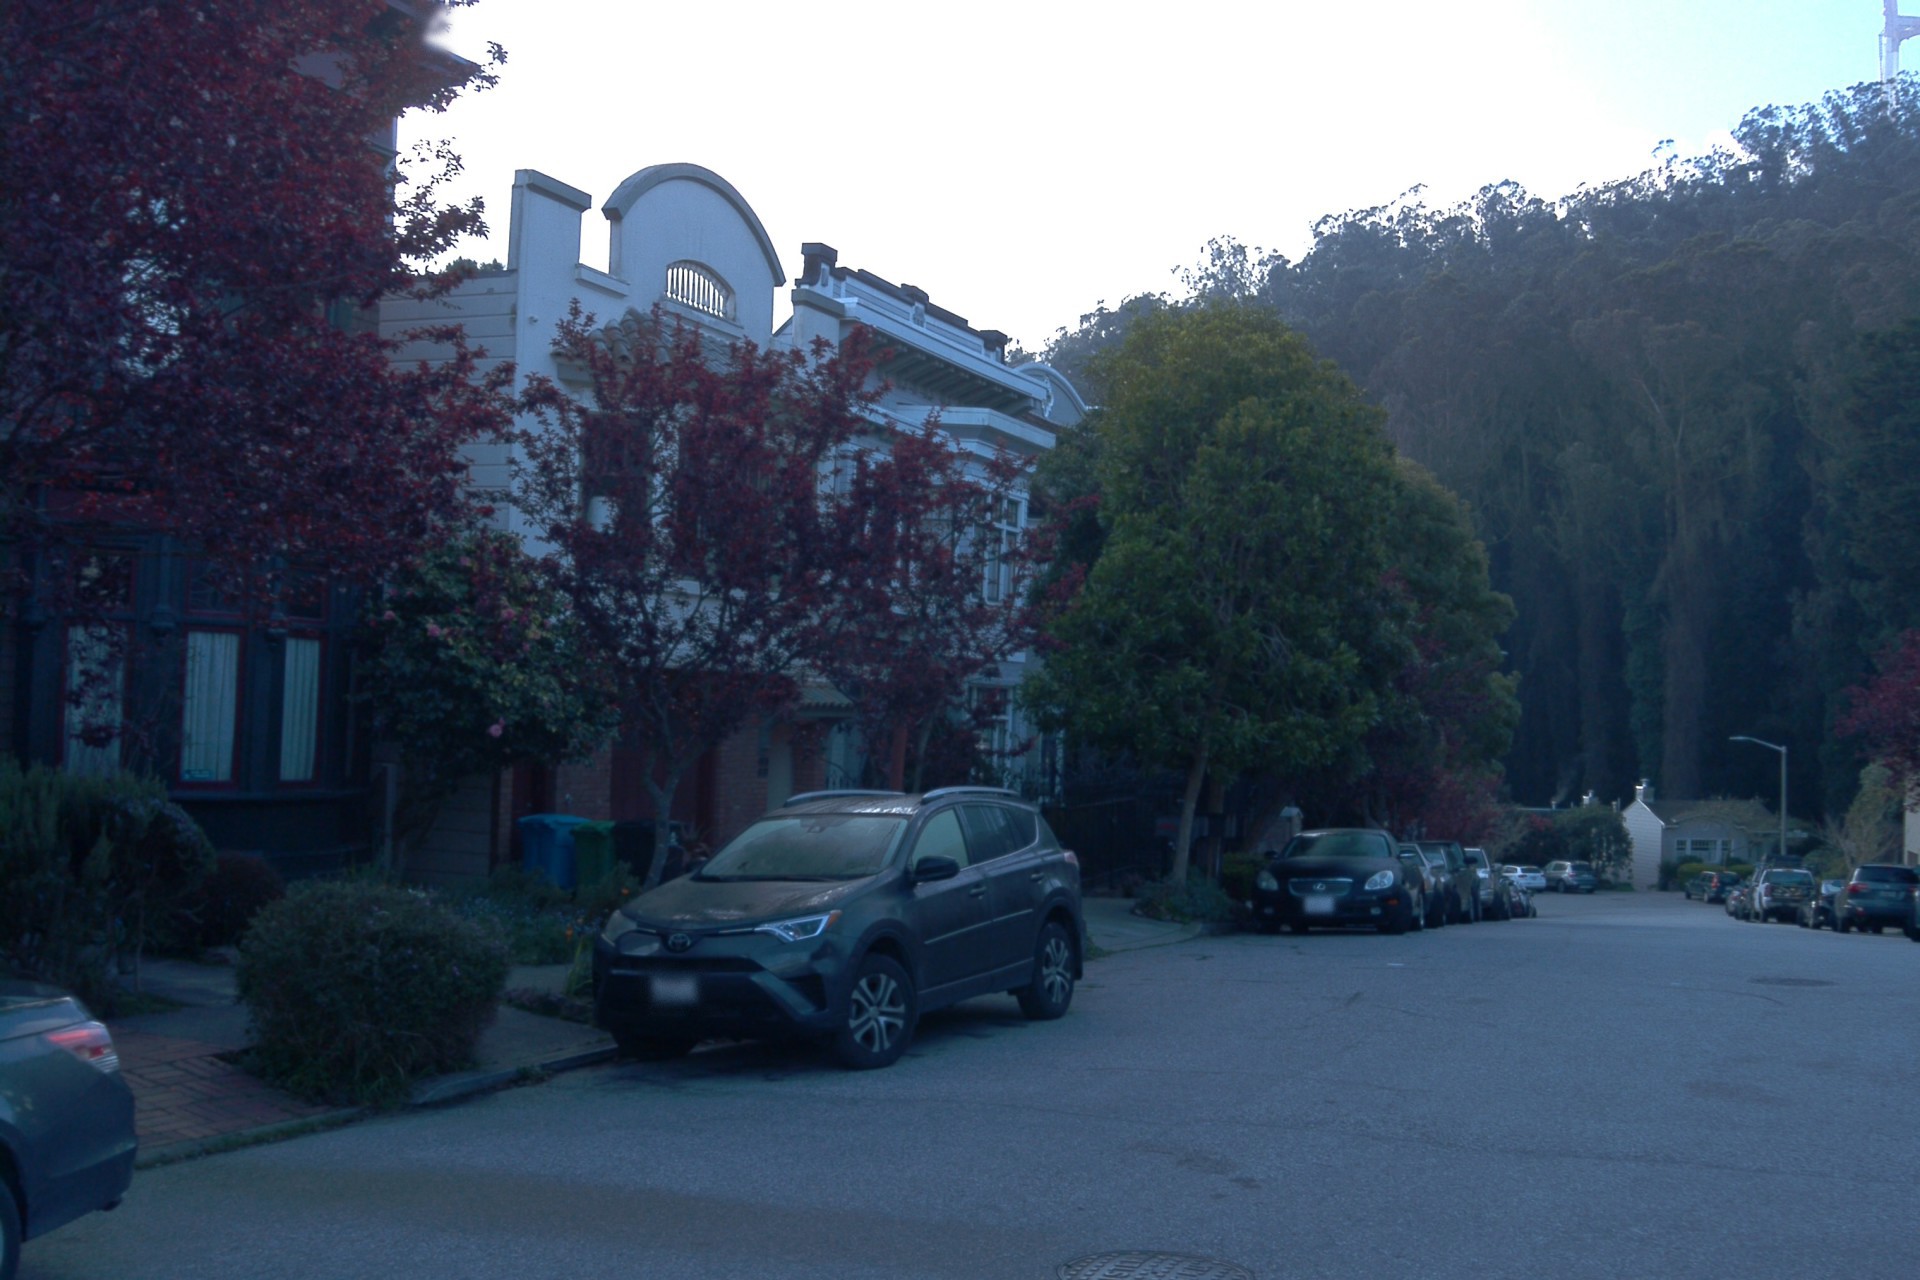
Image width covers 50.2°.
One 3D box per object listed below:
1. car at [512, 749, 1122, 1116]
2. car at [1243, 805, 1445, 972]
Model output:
[{"bbox_3d":[-0.735,1.753,13.848,2.086,1.708,4.539,1,1,26],"label":"car"},{"bbox_3d":[5.021,3.093,26.334,1.999,1.492,4.438,1,1,18],"label":"car"}]
